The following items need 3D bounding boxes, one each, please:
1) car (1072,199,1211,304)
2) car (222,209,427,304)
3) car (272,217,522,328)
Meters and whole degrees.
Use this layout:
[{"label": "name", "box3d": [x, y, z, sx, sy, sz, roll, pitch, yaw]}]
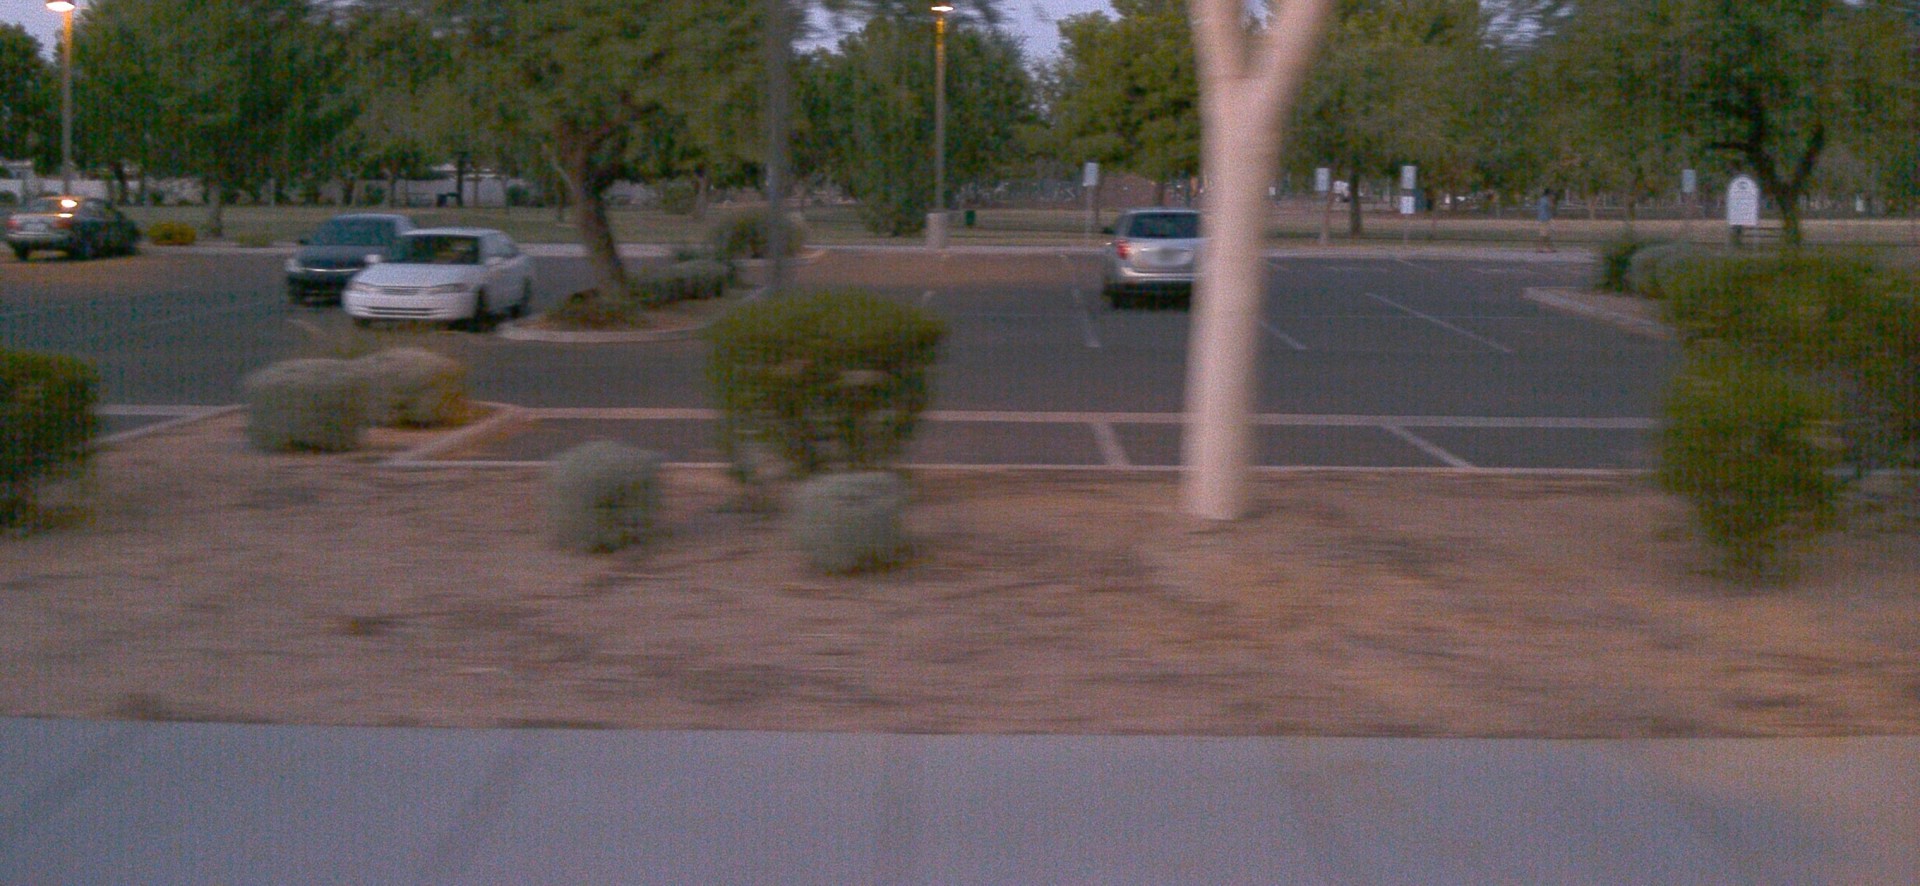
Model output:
[{"label": "car", "box3d": [3.050, -3.296, 35.662, 2.155, 1.675, 4.547, 1, 5, 2]}, {"label": "car", "box3d": [-10.690, -3.186, 35.263, 2.156, 1.485, 4.811, 0, 5, -2]}, {"label": "car", "box3d": [-8.047, -2.507, 30.138, 2.186, 1.465, 4.876, 1, 5, 1]}]
